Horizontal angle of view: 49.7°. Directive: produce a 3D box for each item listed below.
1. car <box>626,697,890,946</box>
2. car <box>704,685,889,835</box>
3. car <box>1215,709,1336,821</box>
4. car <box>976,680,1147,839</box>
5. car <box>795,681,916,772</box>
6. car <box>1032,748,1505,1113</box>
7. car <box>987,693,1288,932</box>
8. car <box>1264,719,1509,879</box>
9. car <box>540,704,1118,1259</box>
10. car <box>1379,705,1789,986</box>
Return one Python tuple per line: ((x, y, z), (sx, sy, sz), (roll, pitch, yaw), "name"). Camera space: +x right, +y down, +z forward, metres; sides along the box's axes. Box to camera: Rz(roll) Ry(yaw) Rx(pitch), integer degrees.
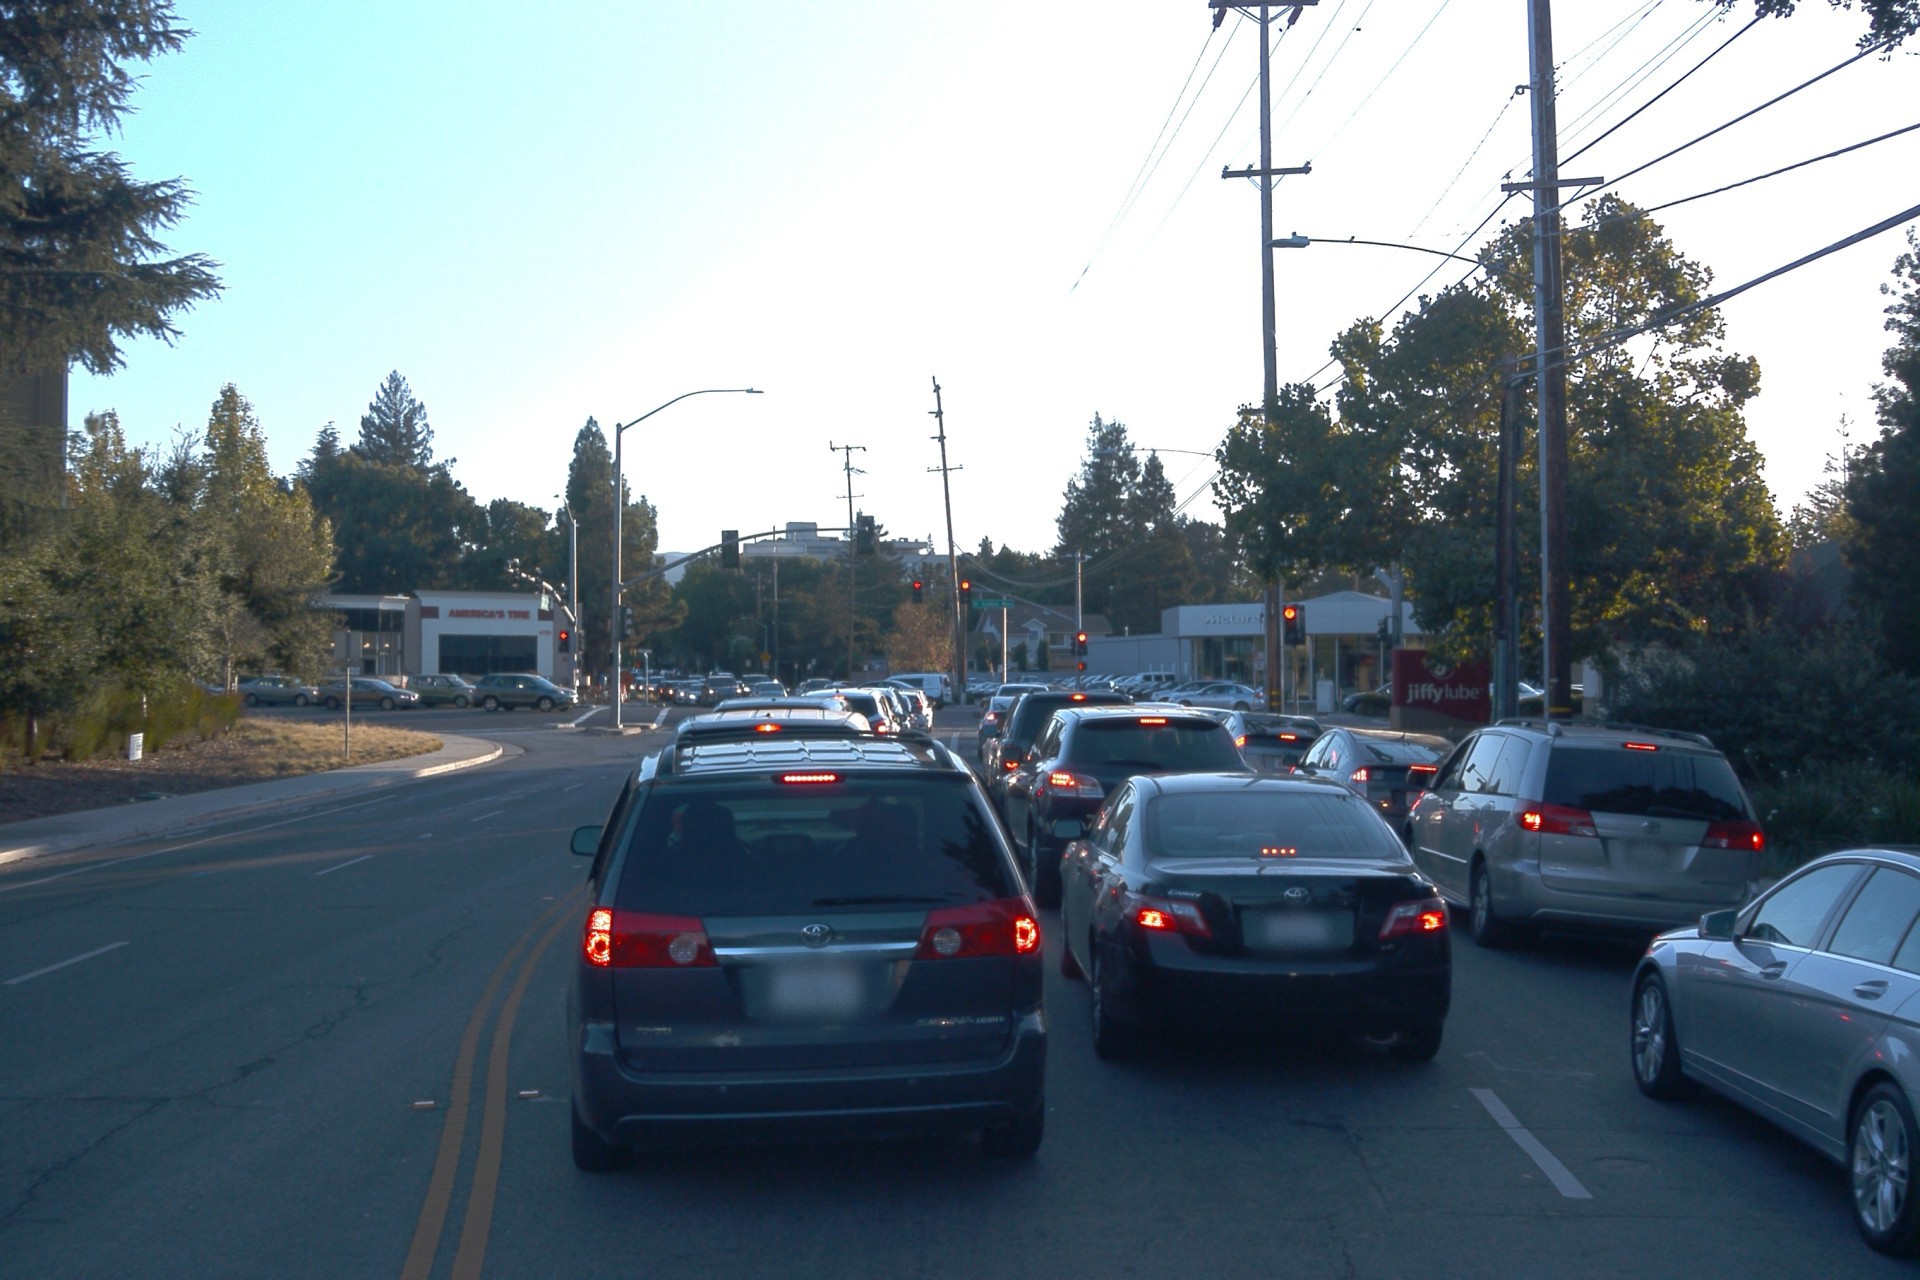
((-1.465, 1.306, 16.301), (1.812, 1.620, 4.042), (0, 0, -2), "car")
((-1.862, 1.361, 24.685), (1.760, 1.570, 3.956), (0, 0, 2), "car")
((4.670, 1.824, 30.934), (1.418, 1.490, 3.138), (0, 0, 2), "car")
((1.186, 1.419, 25.823), (1.759, 1.770, 3.957), (0, 0, -3), "car")
((-1.660, 1.378, 33.817), (1.709, 1.350, 3.337), (0, 0, 2), "car")
((1.529, 1.479, 11.982), (1.915, 1.490, 4.528), (0, 0, -2), "car")
((1.458, 1.436, 18.834), (1.992, 1.810, 4.553), (0, 0, -5), "car")
((4.676, 1.711, 23.272), (1.785, 1.510, 4.026), (0, 0, -2), "car")
((-0.875, 1.305, 10.235), (2.102, 1.830, 5.461), (0, 0, -9), "car")
((4.903, 1.524, 17.100), (2.061, 1.850, 4.903), (0, 0, 2), "car")
